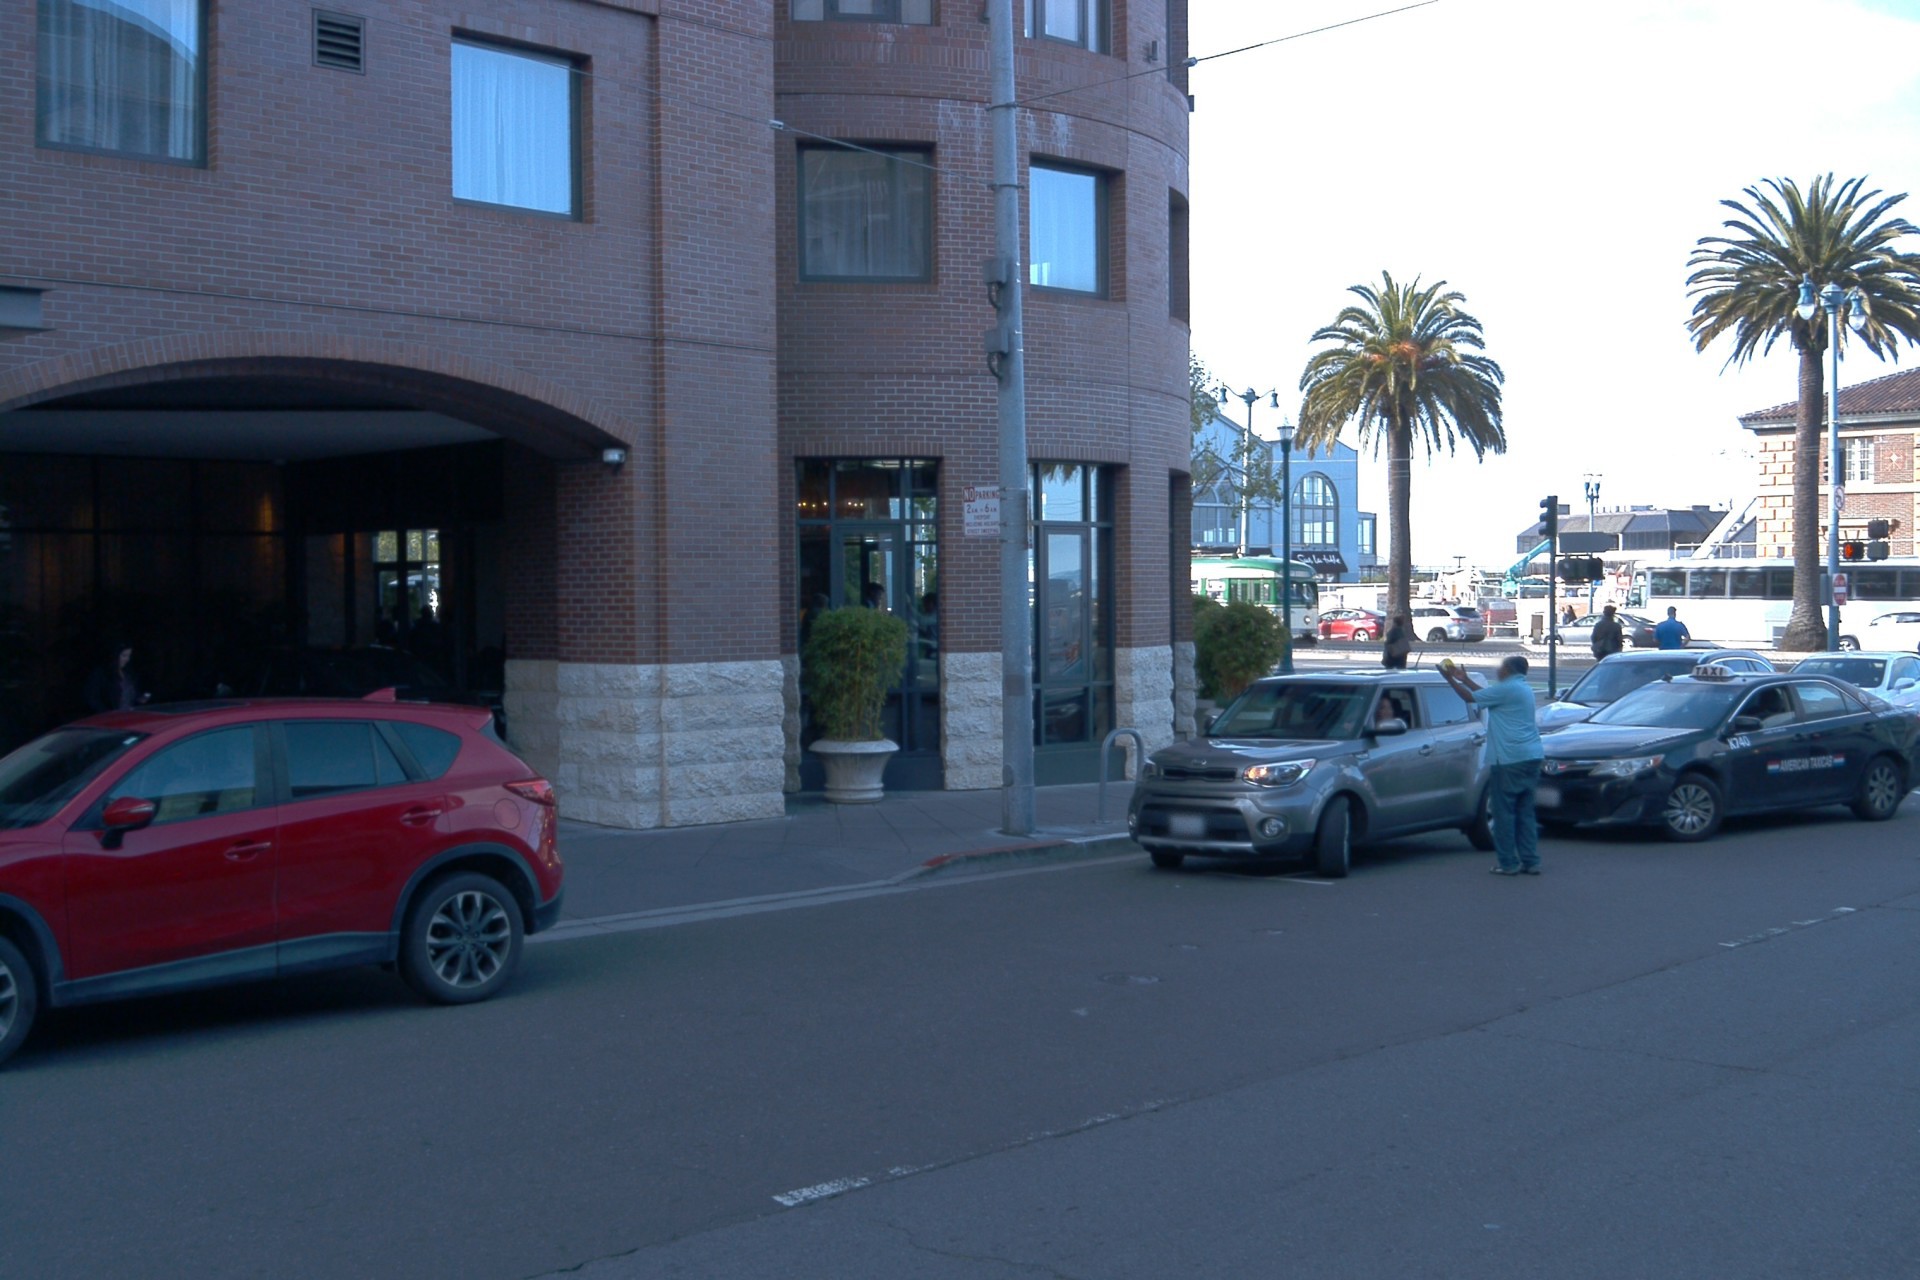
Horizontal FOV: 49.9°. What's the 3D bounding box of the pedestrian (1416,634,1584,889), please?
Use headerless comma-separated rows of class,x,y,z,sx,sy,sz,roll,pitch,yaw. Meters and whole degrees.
pedestrian,4.306,0.934,16.494,0.933,1.950,0.906,0,1,-25

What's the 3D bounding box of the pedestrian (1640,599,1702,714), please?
pedestrian,12.441,0.271,36.095,0.970,1.972,0.948,0,1,22

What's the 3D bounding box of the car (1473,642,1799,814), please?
car,7.604,0.905,23.053,4.036,1.705,1.634,-1,1,-41

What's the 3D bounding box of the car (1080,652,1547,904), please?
car,3.100,1.037,17.521,2.002,1.787,4.174,1,1,42
